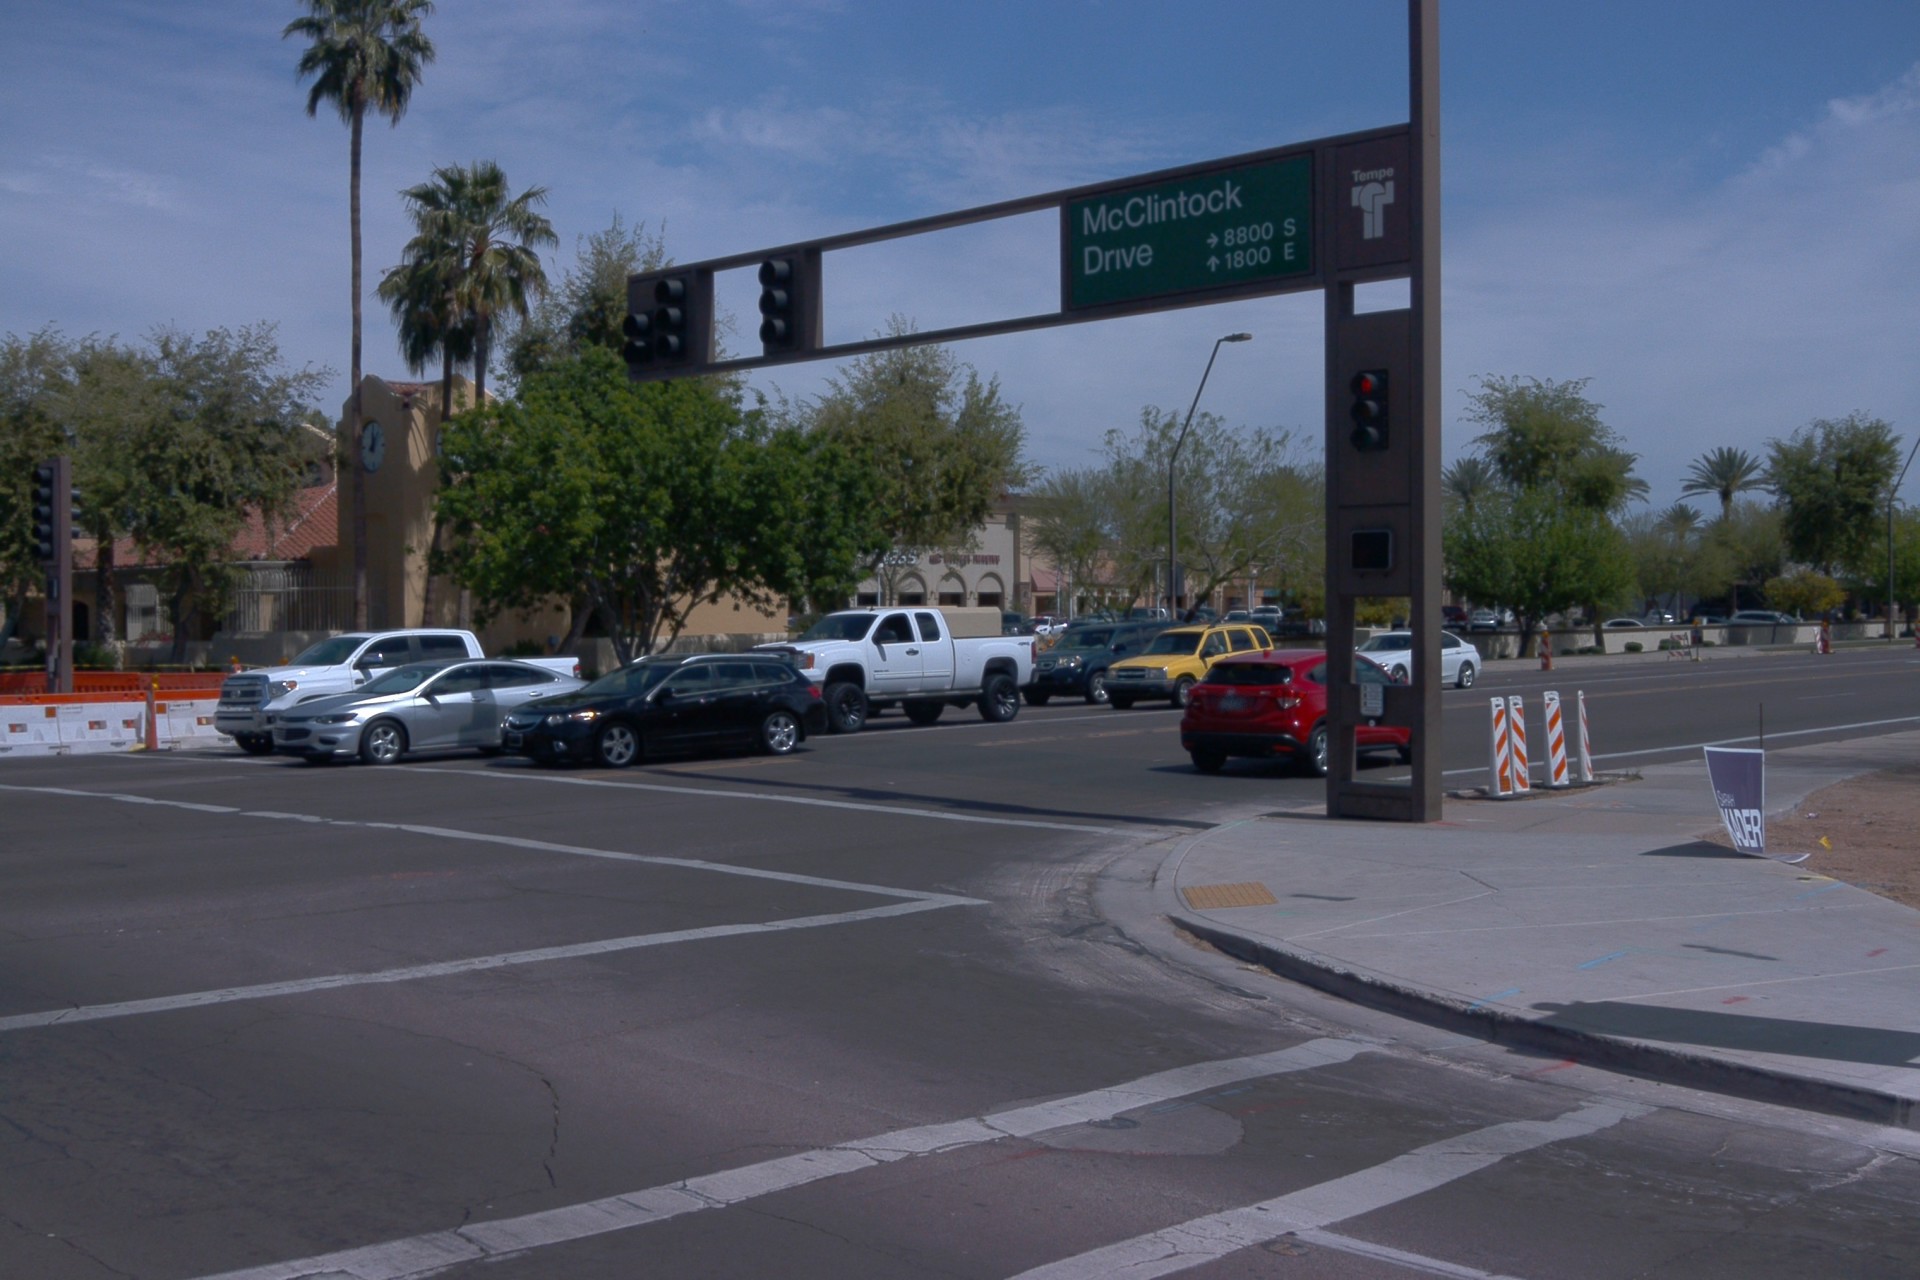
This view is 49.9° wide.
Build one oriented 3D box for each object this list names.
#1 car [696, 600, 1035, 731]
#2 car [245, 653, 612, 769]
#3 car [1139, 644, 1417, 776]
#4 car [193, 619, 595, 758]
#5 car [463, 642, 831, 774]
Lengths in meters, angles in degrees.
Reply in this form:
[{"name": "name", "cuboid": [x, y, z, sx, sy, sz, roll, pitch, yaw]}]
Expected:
[{"name": "car", "cuboid": [-1.546, 0.425, 36.040, 2.446, 2.100, 5.805, 0, 0, 44]}, {"name": "car", "cuboid": [-7.616, 0.968, 29.924, 2.141, 1.530, 4.744, 0, 0, 44]}, {"name": "car", "cuboid": [4.287, 0.864, 27.357, 1.910, 1.610, 4.022, 0, 0, 38]}, {"name": "car", "cuboid": [-9.040, 0.732, 33.412, 2.455, 2.050, 5.851, 0, 0, 44]}, {"name": "car", "cuboid": [-4.309, 0.892, 28.894, 4.697, 1.700, 2.155, 0, 0, -43]}]
